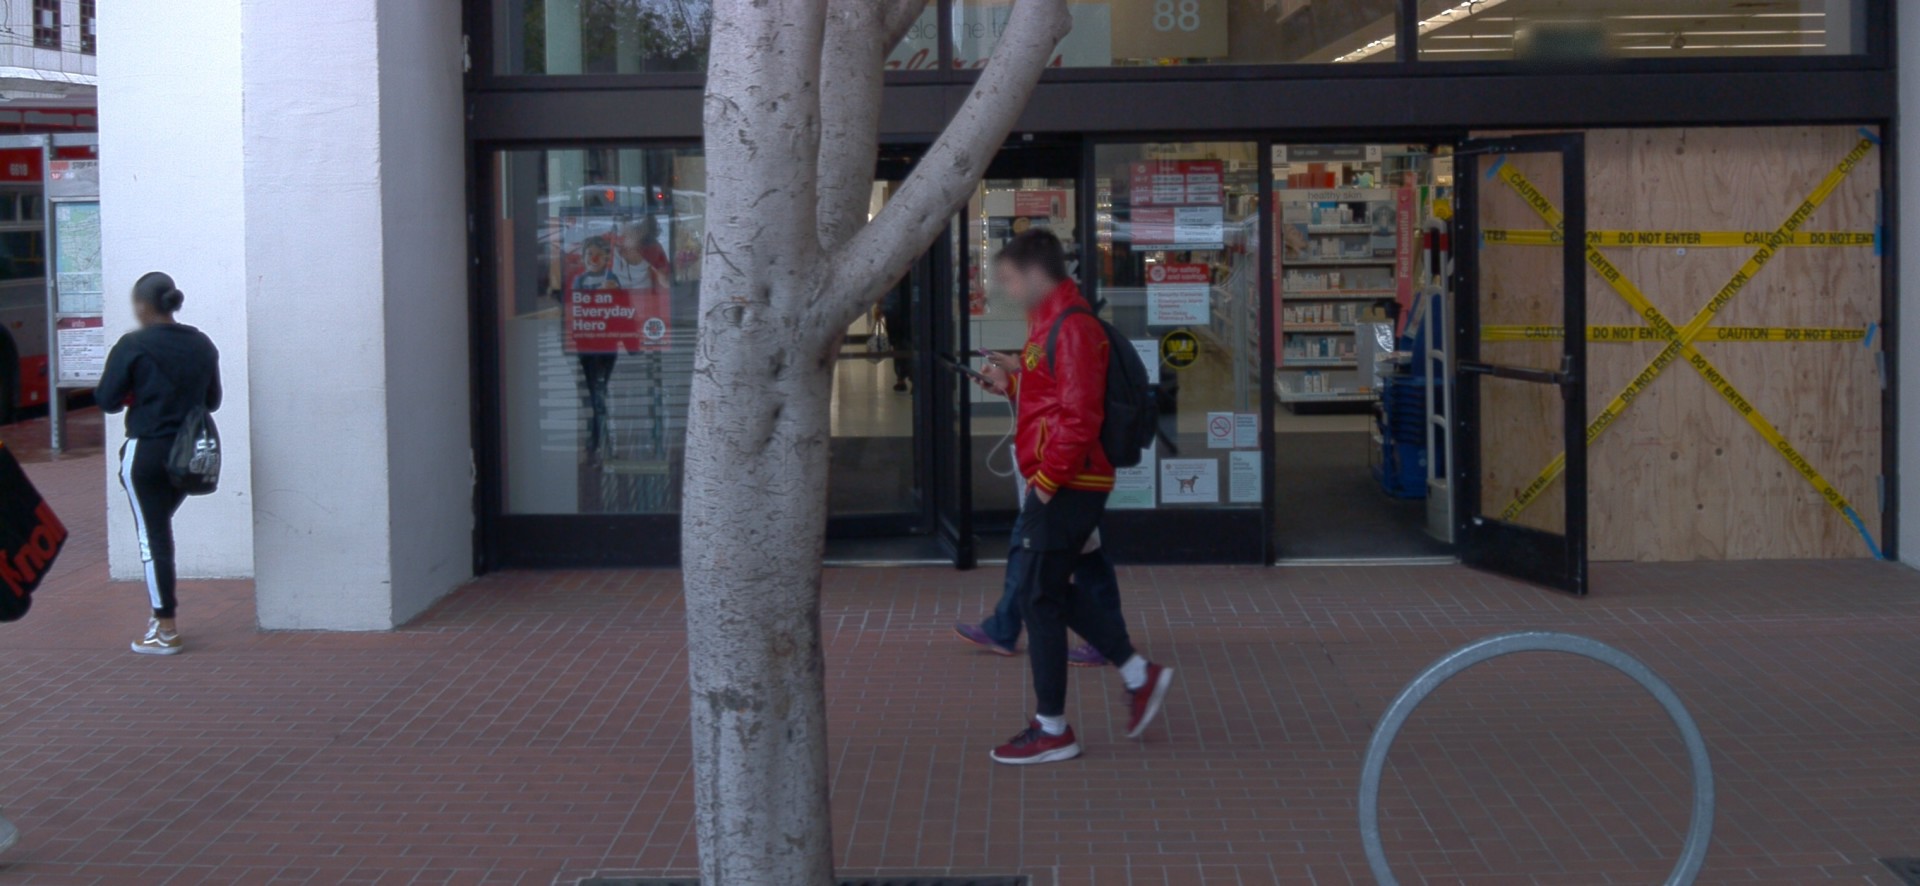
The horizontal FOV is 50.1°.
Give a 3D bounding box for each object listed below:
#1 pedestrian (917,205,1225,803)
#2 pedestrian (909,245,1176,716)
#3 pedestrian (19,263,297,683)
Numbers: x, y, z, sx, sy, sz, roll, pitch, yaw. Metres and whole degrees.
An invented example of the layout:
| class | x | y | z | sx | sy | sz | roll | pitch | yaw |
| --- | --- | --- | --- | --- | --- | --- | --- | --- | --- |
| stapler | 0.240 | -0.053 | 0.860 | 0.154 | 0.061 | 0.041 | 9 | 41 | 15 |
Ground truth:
| class | x | y | z | sx | sy | sz | roll | pitch | yaw |
| --- | --- | --- | --- | --- | --- | --- | --- | --- | --- |
| pedestrian | 0.373 | 0.155 | 6.901 | 0.978 | 1.895 | 0.717 | 0 | 1 | 3 |
| pedestrian | 0.339 | 0.087 | 8.020 | 0.980 | 1.715 | 0.966 | 0 | 2 | 4 |
| pedestrian | -3.377 | 0.073 | 8.670 | 0.863 | 1.655 | 0.698 | 1 | 1 | 29 |
